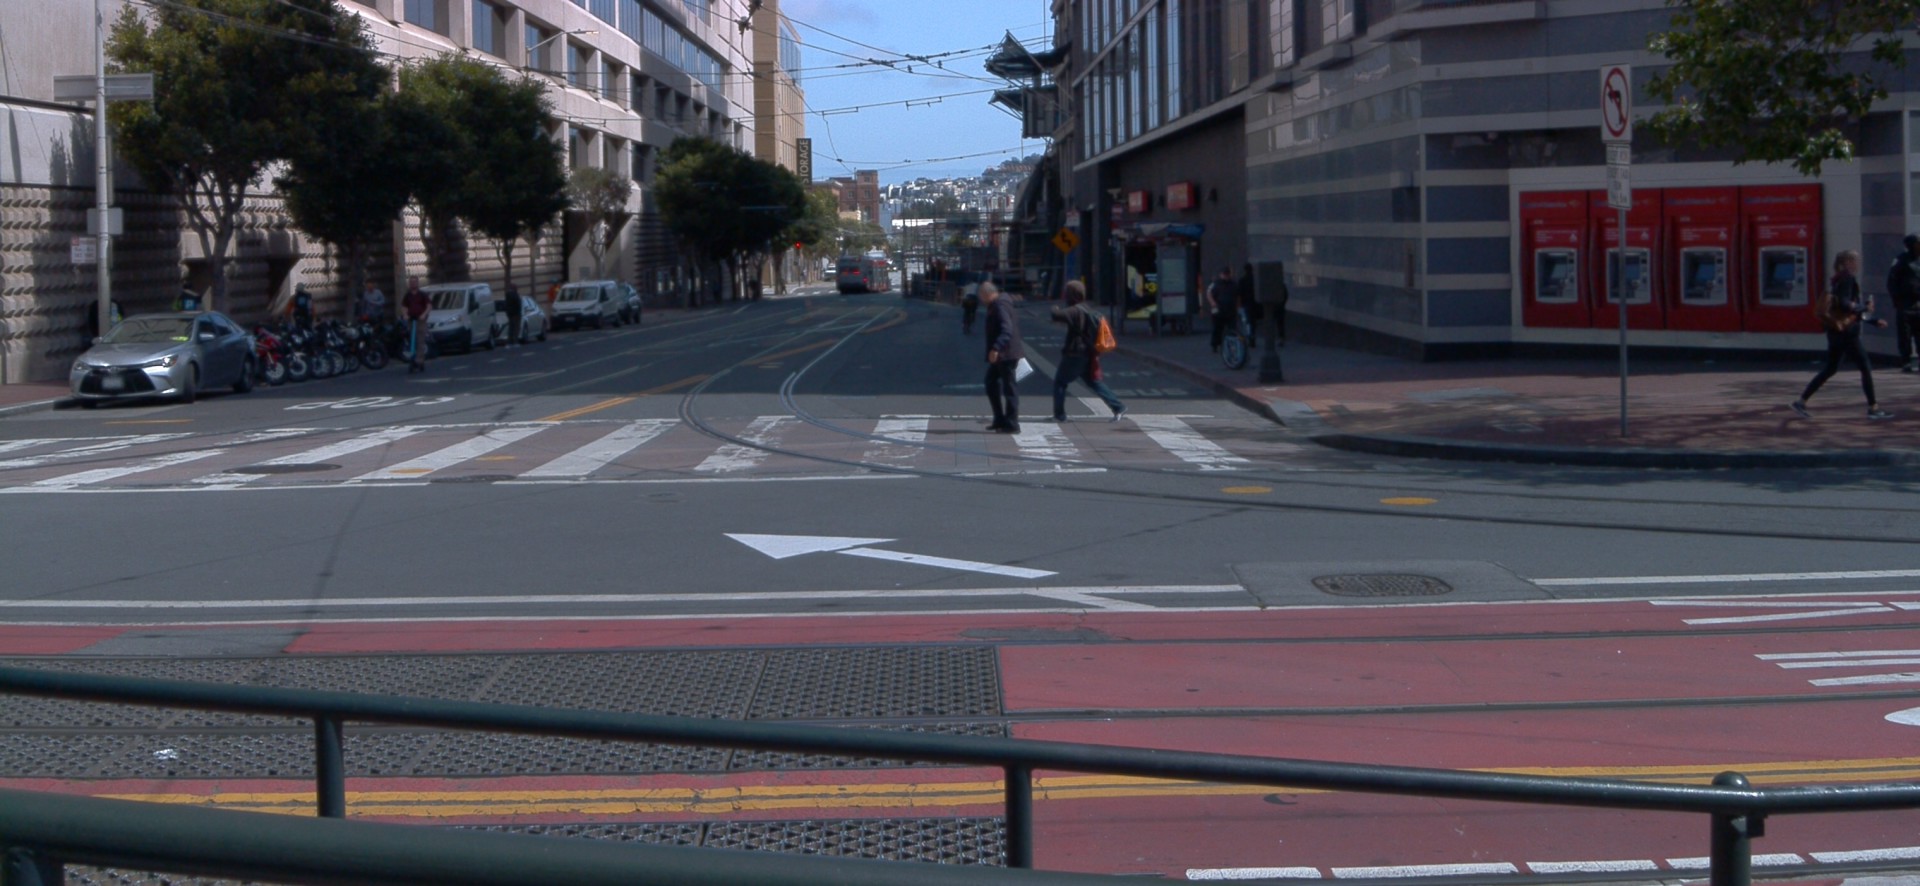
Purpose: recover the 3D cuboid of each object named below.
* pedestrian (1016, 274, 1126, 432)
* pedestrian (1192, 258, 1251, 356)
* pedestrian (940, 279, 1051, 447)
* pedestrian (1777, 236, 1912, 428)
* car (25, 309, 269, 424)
[{"bbox_3d":[1.319,-1.084,24.306,1.156,1.766,1.189,0,3,9],"label":"pedestrian"},{"bbox_3d":[4.877,-2.555,38.580,0.942,1.766,1.012,-1,3,-2],"label":"pedestrian"},{"bbox_3d":[0.397,-0.896,22.648,1.095,1.766,0.864,0,2,10],"label":"pedestrian"},{"bbox_3d":[8.899,-1.143,20.832,1.137,1.866,0.847,0,2,15],"label":"pedestrian"},{"bbox_3d":[-13.326,-1.333,34.233,2.160,1.492,4.838,-1,6,0],"label":"car"}]
